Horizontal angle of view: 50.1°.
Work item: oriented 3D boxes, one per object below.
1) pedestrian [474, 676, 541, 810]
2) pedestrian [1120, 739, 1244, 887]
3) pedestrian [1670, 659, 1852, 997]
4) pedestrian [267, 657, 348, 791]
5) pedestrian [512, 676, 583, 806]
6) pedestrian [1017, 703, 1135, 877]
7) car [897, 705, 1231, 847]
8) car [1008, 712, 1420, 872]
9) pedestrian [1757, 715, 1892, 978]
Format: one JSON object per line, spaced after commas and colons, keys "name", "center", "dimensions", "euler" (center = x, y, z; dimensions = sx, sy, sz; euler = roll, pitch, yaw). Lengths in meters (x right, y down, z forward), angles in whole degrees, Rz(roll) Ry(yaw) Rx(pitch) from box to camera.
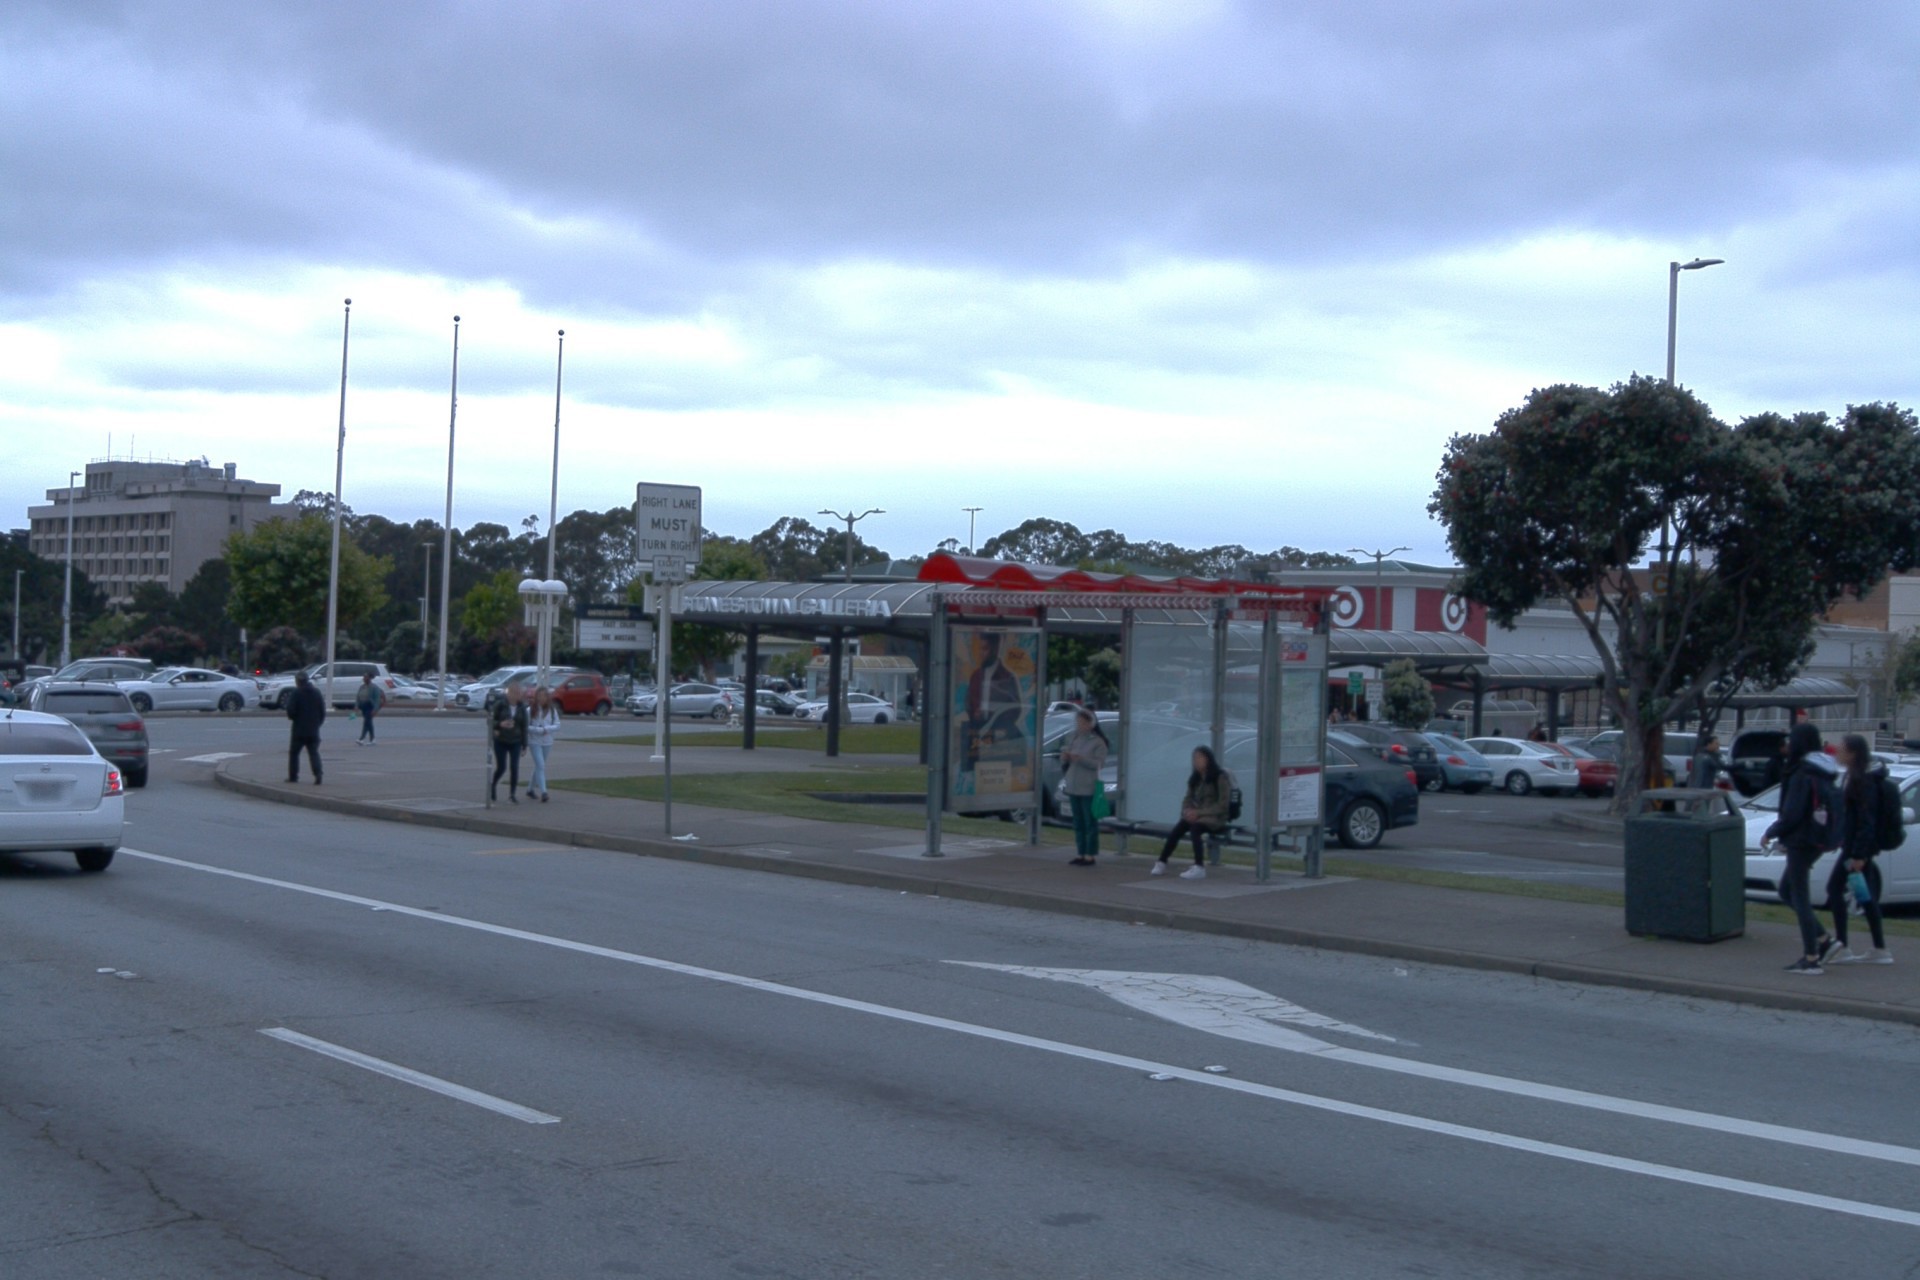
{"name": "pedestrian", "center": [-6.046, 1.359, 27.444], "dimensions": [0.629, 1.720, 0.887], "euler": [0, 0, -29]}
{"name": "pedestrian", "center": [2.130, 1.635, 19.727], "dimensions": [0.836, 1.310, 0.838], "euler": [0, 0, -42]}
{"name": "pedestrian", "center": [5.537, 1.245, 14.210], "dimensions": [0.900, 2.200, 0.967], "euler": [0, 0, 40]}
{"name": "pedestrian", "center": [-9.685, 1.225, 30.508], "dimensions": [0.814, 1.926, 0.930], "euler": [0, 0, -42]}
{"name": "pedestrian", "center": [-5.605, 1.358, 27.931], "dimensions": [0.709, 1.700, 0.826], "euler": [0, 0, -30]}
{"name": "pedestrian", "center": [1.153, 1.459, 20.388], "dimensions": [0.827, 1.630, 0.814], "euler": [0, 0, -42]}
{"name": "car", "center": [1.437, 1.831, 28.606], "dimensions": [4.146, 1.700, 2.032], "euler": [0, 0, -23]}
{"name": "car", "center": [3.243, 1.859, 26.218], "dimensions": [4.767, 1.700, 2.204], "euler": [0, 0, -26]}
{"name": "pedestrian", "center": [6.062, 1.416, 14.413], "dimensions": [0.737, 1.730, 0.738], "euler": [0, 0, 34]}
